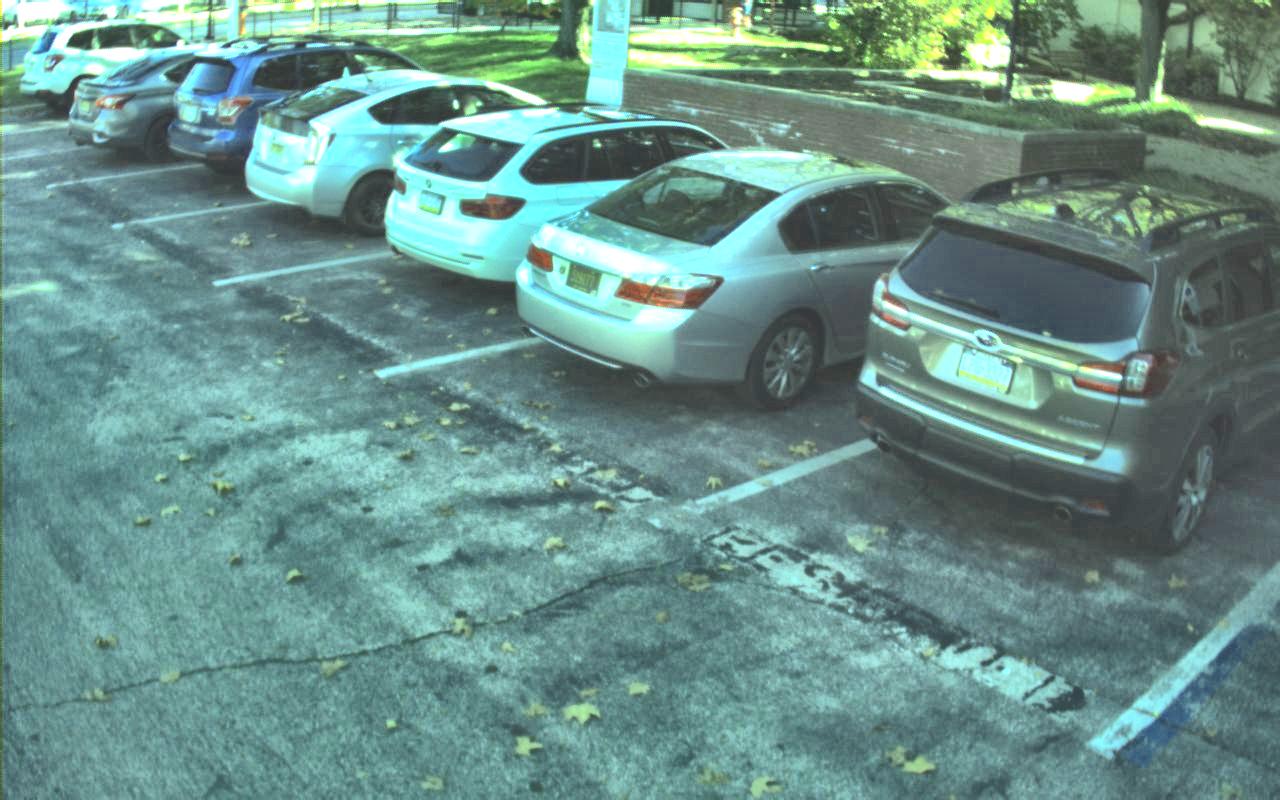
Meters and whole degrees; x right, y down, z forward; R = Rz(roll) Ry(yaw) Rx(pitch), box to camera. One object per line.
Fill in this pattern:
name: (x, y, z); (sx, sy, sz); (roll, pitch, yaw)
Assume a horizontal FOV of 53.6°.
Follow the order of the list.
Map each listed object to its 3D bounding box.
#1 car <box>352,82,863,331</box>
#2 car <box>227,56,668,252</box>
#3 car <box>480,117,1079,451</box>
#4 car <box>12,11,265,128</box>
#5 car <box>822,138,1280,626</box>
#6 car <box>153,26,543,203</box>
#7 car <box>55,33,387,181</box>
car: (-0.132, -1.917, 11.087); (4.397, 1.583, 1.923); (-16, 22, -40)
car: (-1.972, -2.718, 12.901); (4.342, 1.560, 1.892); (-14, 21, -38)
car: (1.267, -1.117, 9.037); (4.484, 1.545, 1.920); (-15, 22, -40)
car: (-9.287, -6.054, 20.954); (4.559, 1.648, 1.961); (-17, 22, -42)
car: (3.386, -0.534, 7.330); (4.797, 1.813, 2.039); (-16, 22, -41)
car: (-3.577, -3.586, 14.777); (4.484, 1.696, 1.970); (-15, 21, -38)
car: (-5.886, -4.134, 16.415); (4.464, 1.552, 1.931); (-16, 22, -41)
